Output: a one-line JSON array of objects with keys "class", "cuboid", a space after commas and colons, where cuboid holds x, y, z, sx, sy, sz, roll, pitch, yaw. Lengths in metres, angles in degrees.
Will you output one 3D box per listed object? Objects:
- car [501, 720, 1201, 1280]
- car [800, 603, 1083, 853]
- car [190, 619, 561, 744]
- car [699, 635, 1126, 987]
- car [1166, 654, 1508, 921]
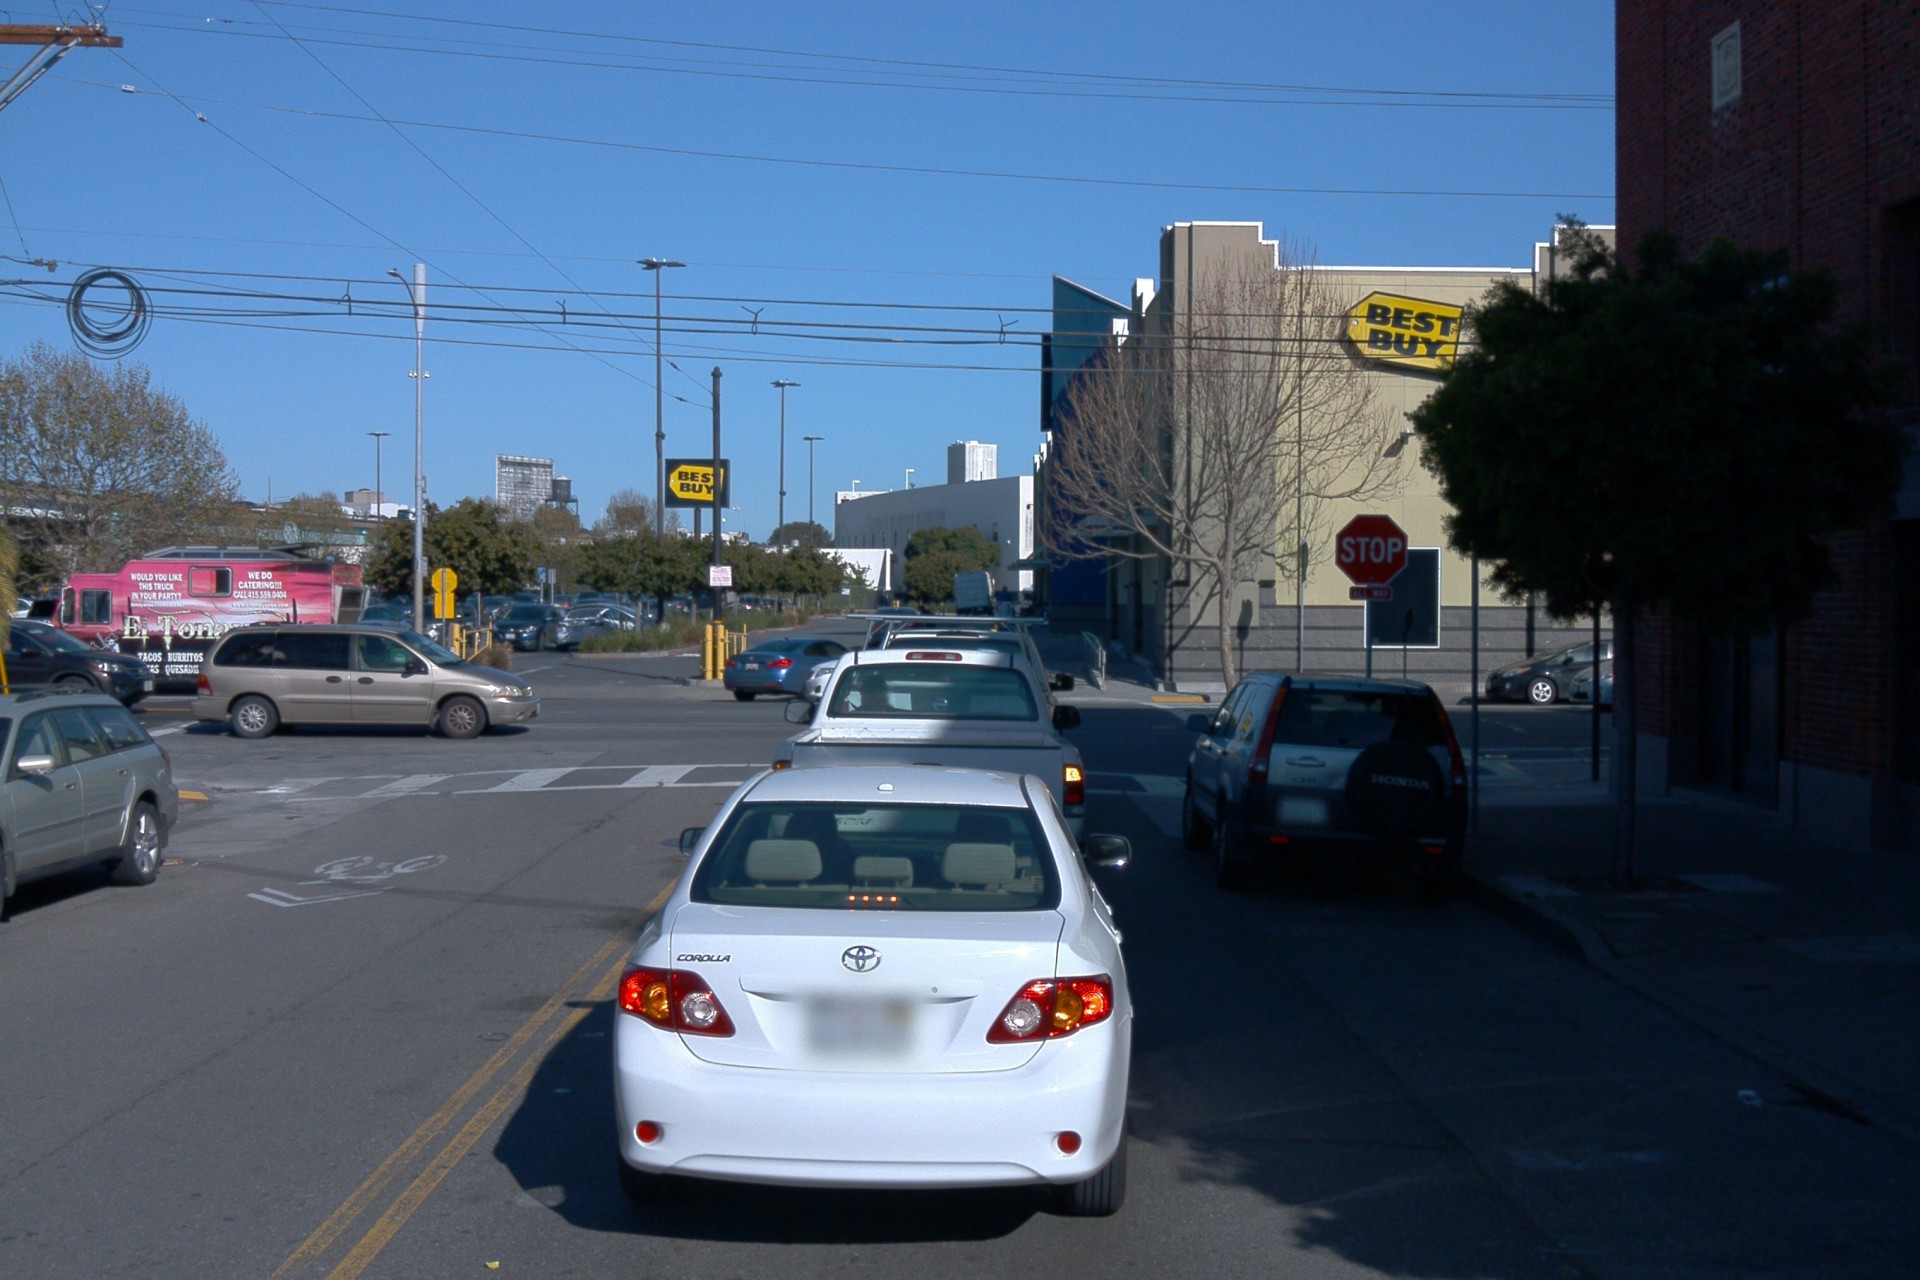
[{"class": "car", "cuboid": [-0.280, 1.255, 8.329, 2.045, 1.580, 4.504, 1, 1, 1]}, {"class": "car", "cuboid": [-0.002, 0.722, 20.755, 2.386, 2.140, 5.556, 1, 1, 4]}, {"class": "car", "cuboid": [-8.876, 0.616, 31.603, 5.167, 1.770, 2.031, 1, 1, -4]}, {"class": "car", "cuboid": [-0.251, 0.961, 14.429, 2.386, 1.880, 5.557, 1, 1, 0]}, {"class": "car", "cuboid": [2.857, 1.047, 16.553, 2.017, 1.730, 4.285, 1, 1, 1]}]
